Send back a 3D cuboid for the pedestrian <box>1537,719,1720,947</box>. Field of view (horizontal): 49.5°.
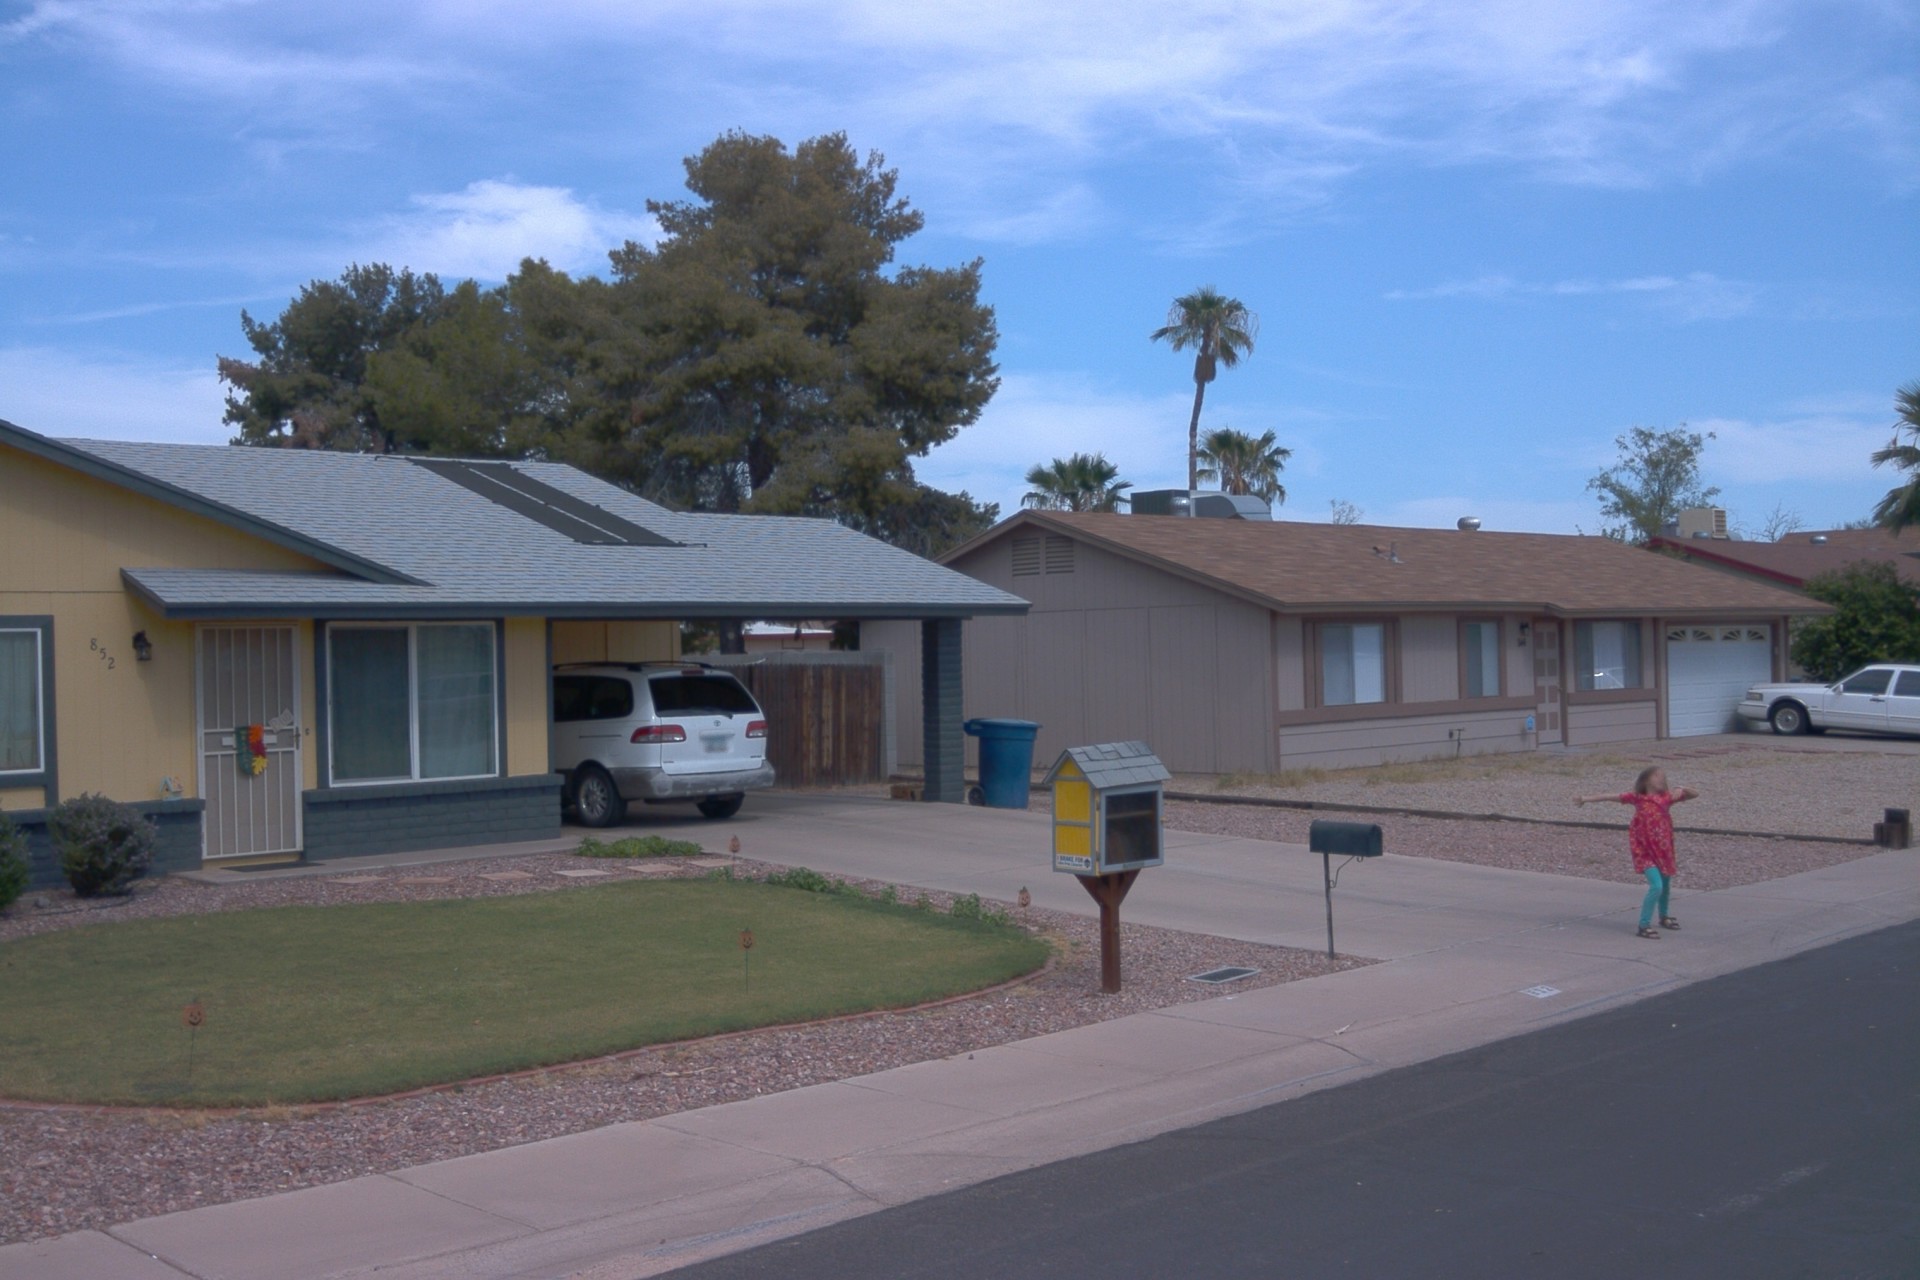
[{"bbox_3d":[5.006,1.405,15.594,1.014,1.580,0.964,0,0,39],"label":"pedestrian"}]

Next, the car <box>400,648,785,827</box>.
[{"bbox_3d":[-4.104,0.982,22.939,4.247,1.790,1.856,0,0,40],"label":"car"}]
